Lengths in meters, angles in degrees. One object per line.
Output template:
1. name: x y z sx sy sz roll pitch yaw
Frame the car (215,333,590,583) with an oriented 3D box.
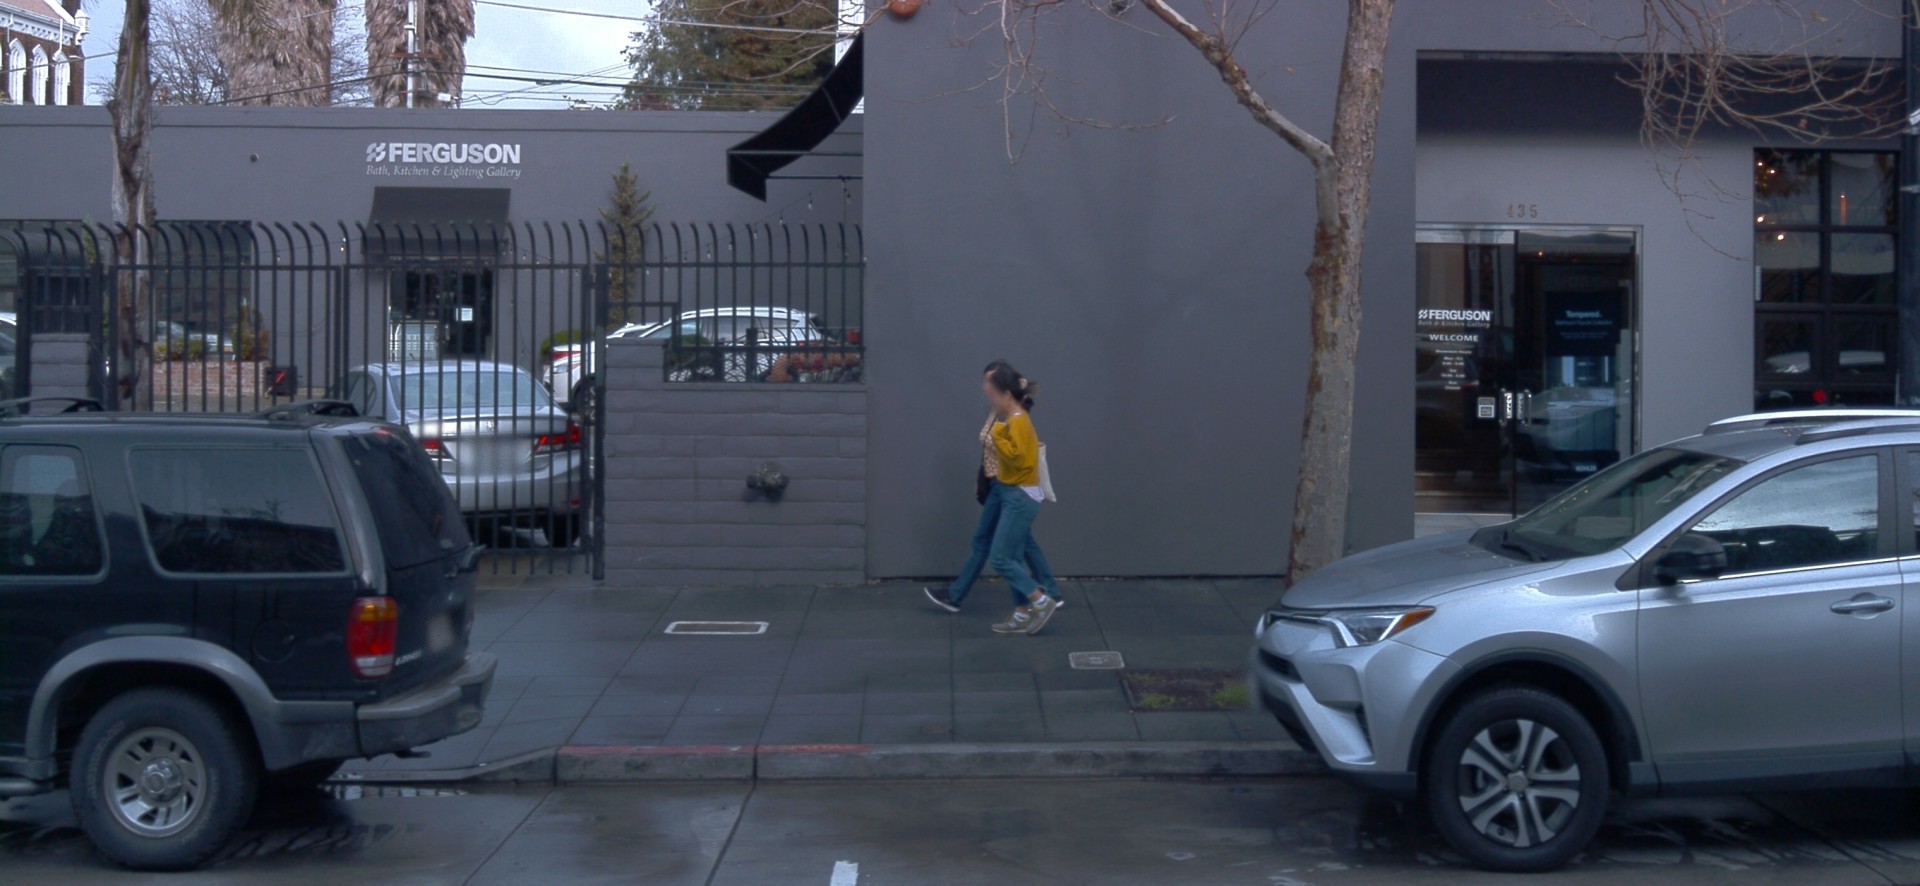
1. car: -4.646 -0.029 16.568 1.948 1.372 4.673 -3 7 -28

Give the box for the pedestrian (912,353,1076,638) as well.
1. pedestrian: 0.186 0.284 12.171 0.935 1.566 0.795 0 3 -2

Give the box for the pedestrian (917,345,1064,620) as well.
1. pedestrian: 0.184 0.221 12.965 0.897 1.616 0.885 0 3 0
